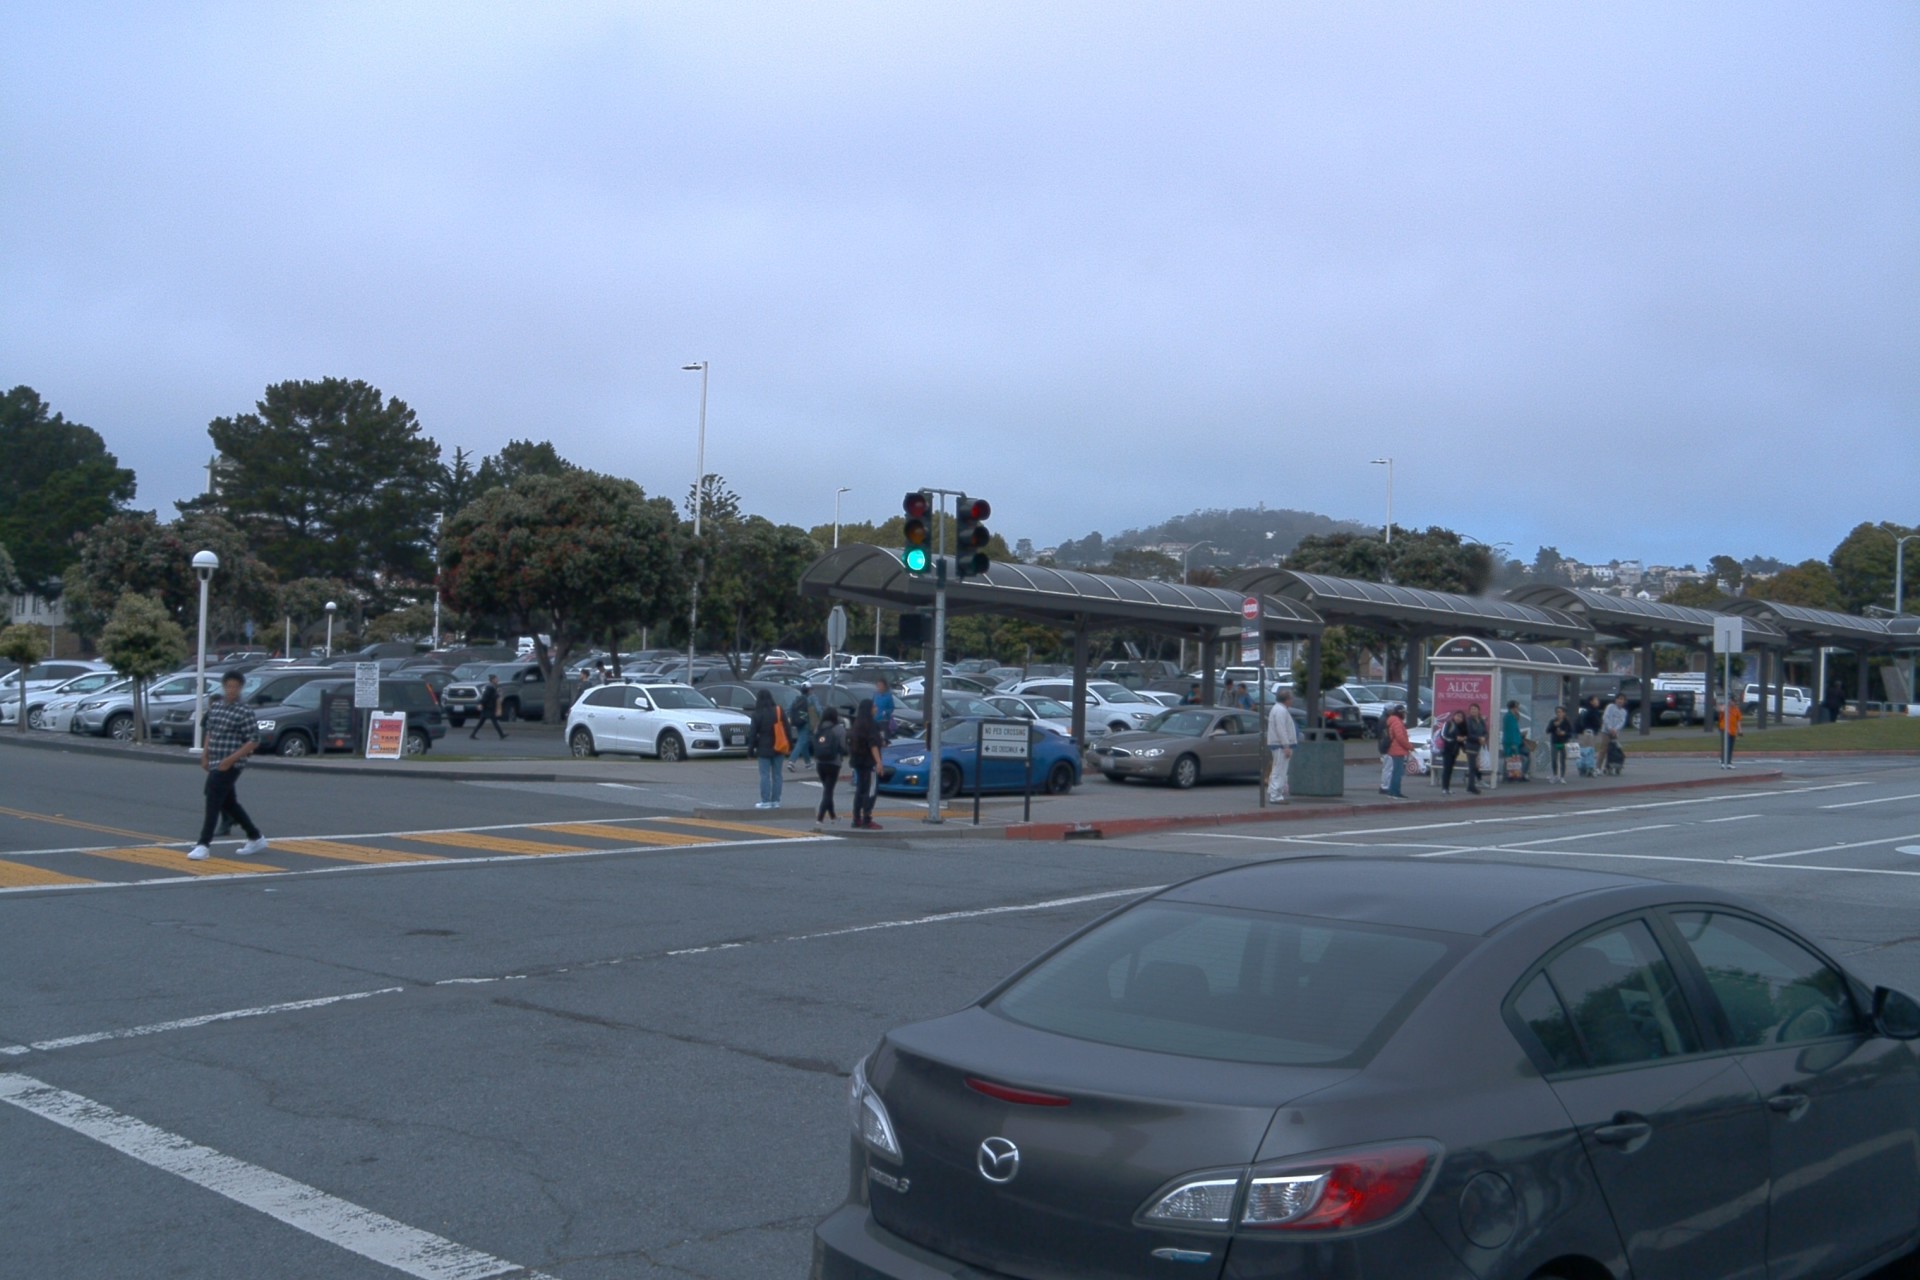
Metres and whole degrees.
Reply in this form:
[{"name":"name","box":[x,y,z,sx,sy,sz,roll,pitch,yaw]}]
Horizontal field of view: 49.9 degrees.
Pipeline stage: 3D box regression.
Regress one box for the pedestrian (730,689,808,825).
[{"name":"pedestrian","box":[-2.516,1.513,27.069,0.748,1.690,1.107,0,1,-20]}]

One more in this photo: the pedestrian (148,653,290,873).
[{"name":"pedestrian","box":[-7.431,1.202,20.717,0.774,2.110,1.080,0,1,36]}]

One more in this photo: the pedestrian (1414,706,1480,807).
[{"name":"pedestrian","box":[8.252,1.957,34.953,0.754,1.620,0.985,0,1,37]}]

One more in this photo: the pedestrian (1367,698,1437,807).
[{"name":"pedestrian","box":[7.212,1.823,33.710,0.826,1.720,0.761,-1,1,-28]}]

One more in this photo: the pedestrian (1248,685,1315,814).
[{"name":"pedestrian","box":[4.983,1.673,31.958,0.849,1.930,0.853,0,1,22]}]

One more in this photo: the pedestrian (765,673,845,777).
[{"name":"pedestrian","box":[-2.669,1.449,35.557,0.929,1.720,1.112,0,1,27]}]

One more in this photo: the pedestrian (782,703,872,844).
[{"name":"pedestrian","box":[-1.674,1.664,26.031,0.724,1.690,0.898,0,1,36]}]

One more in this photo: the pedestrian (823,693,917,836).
[{"name":"pedestrian","box":[-1.106,1.500,25.173,0.960,1.670,0.771,0,1,-19]}]

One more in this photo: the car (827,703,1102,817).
[{"name":"car","box":[0.130,1.887,33.460,4.281,1.520,1.972,-1,1,-44]}]

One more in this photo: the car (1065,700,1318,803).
[{"name":"car","box":[4.344,1.999,38.144,4.901,1.580,1.908,-1,1,-43]}]
